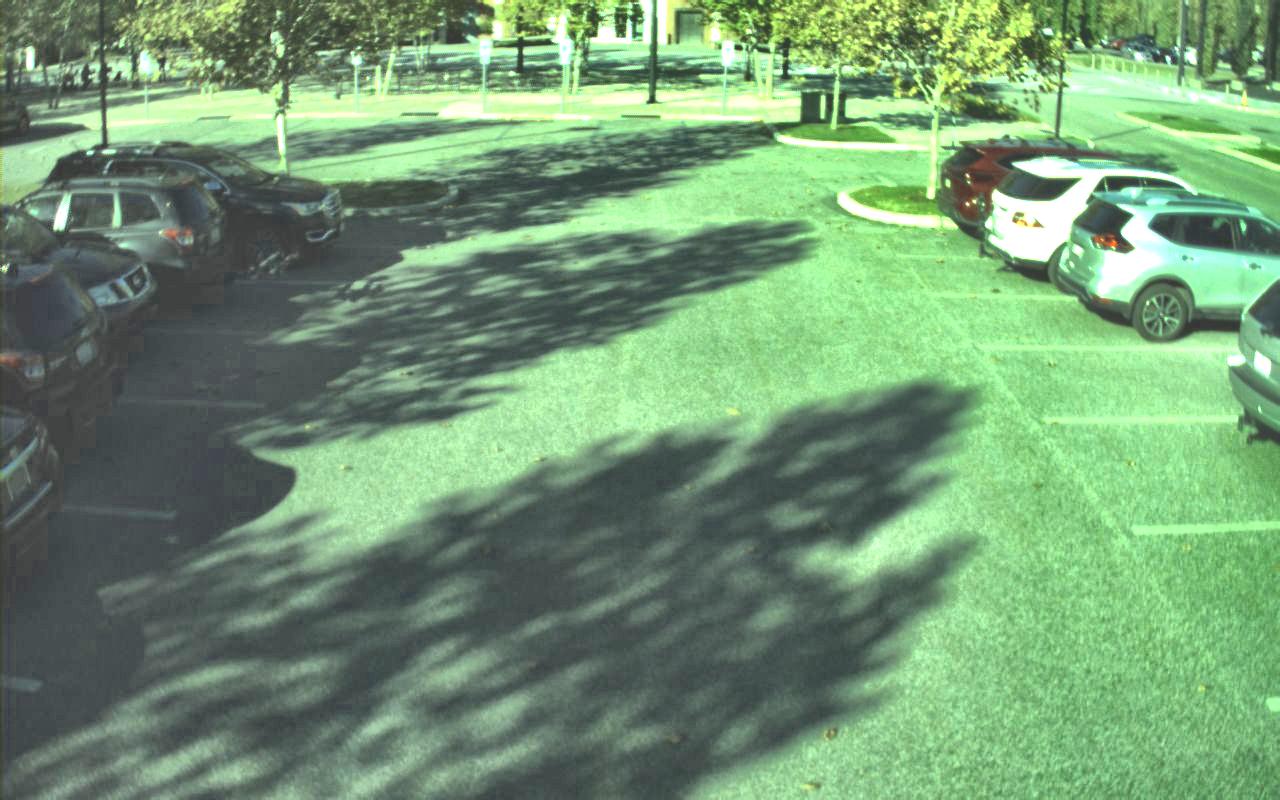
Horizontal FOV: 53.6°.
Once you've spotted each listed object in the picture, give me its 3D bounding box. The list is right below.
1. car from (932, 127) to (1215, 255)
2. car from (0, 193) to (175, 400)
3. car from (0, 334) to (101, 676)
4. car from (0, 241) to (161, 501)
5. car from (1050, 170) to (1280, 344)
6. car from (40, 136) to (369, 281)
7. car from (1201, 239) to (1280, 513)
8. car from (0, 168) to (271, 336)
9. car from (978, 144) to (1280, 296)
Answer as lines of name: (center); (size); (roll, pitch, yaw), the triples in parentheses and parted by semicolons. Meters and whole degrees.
car: (7.189, -3.464, 19.810); (4.490, 1.779, 1.993); (-1, 16, 0)
car: (-7.442, -1.128, 12.308); (4.399, 1.615, 1.964); (-4, 16, -9)
car: (-6.132, 0.628, 7.188); (4.378, 1.596, 1.955); (0, 16, 3)
car: (-6.698, -0.300, 9.814); (4.429, 1.691, 1.982); (0, 16, 5)
car: (7.574, -1.808, 14.614); (4.501, 1.801, 1.989); (-1, 16, 1)
car: (-6.561, -2.811, 17.618); (4.709, 1.751, 2.055); (2, 17, 11)
car: (7.612, -0.271, 9.737); (4.629, 1.886, 2.055); (-1, 16, 2)
car: (-7.159, -1.914, 14.954); (4.431, 1.694, 1.988); (2, 17, 11)
car: (7.306, -2.602, 17.053); (4.576, 1.833, 2.017); (-1, 16, -1)
